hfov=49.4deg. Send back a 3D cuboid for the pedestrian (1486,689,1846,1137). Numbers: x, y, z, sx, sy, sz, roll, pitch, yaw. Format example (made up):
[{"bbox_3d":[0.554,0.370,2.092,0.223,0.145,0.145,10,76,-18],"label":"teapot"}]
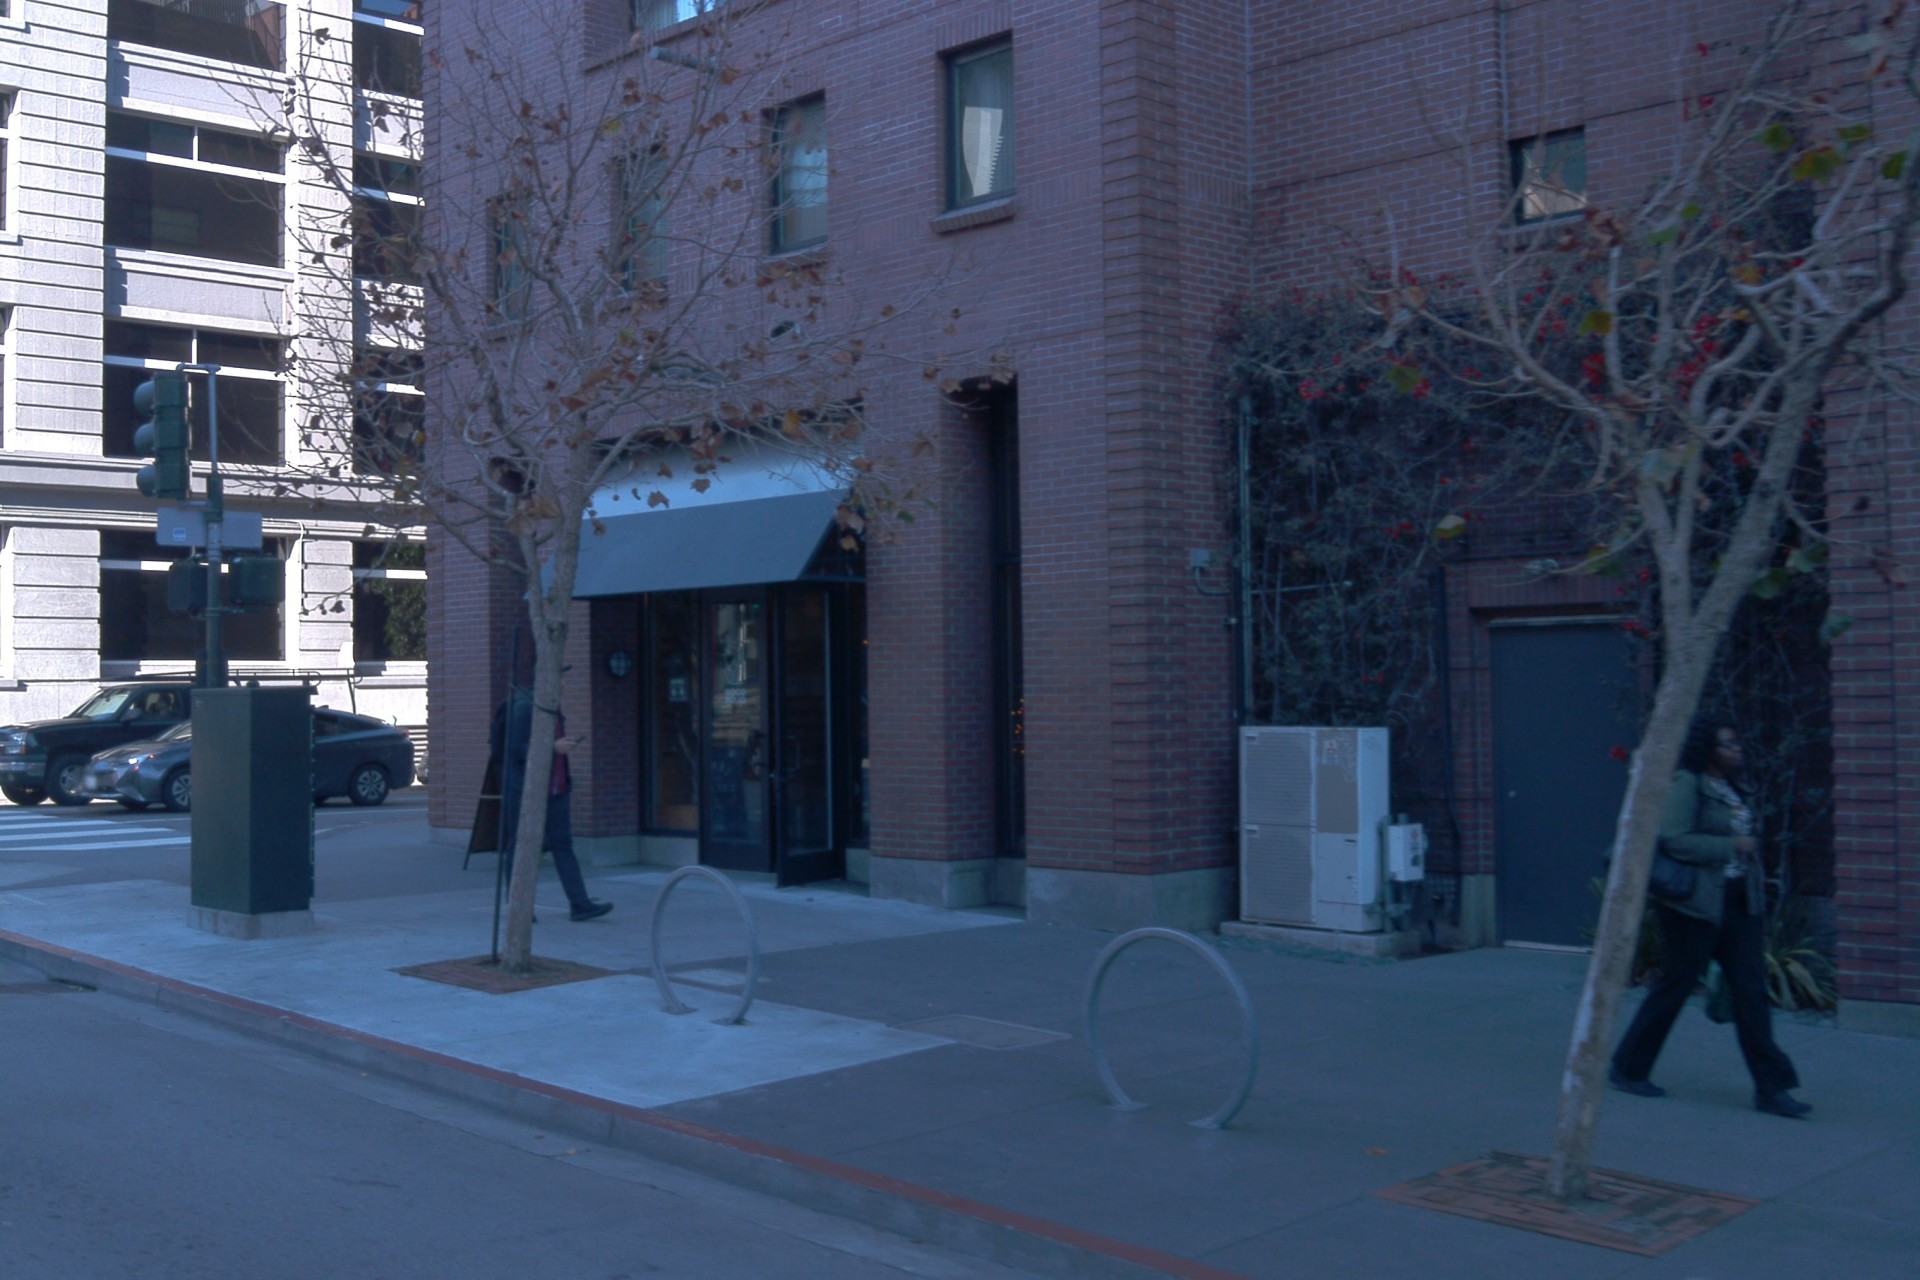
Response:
[{"bbox_3d":[3.136,1.134,9.291,1.059,1.810,1.108,0,0,-39],"label":"pedestrian"}]

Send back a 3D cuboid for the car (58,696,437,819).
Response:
[{"bbox_3d":[-9.884,1.575,29.208,1.985,1.520,4.615,0,0,44],"label":"car"}]

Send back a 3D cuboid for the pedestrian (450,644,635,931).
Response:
[{"bbox_3d":[-2.978,1.014,14.889,0.945,1.960,0.885,0,0,37],"label":"pedestrian"}]
